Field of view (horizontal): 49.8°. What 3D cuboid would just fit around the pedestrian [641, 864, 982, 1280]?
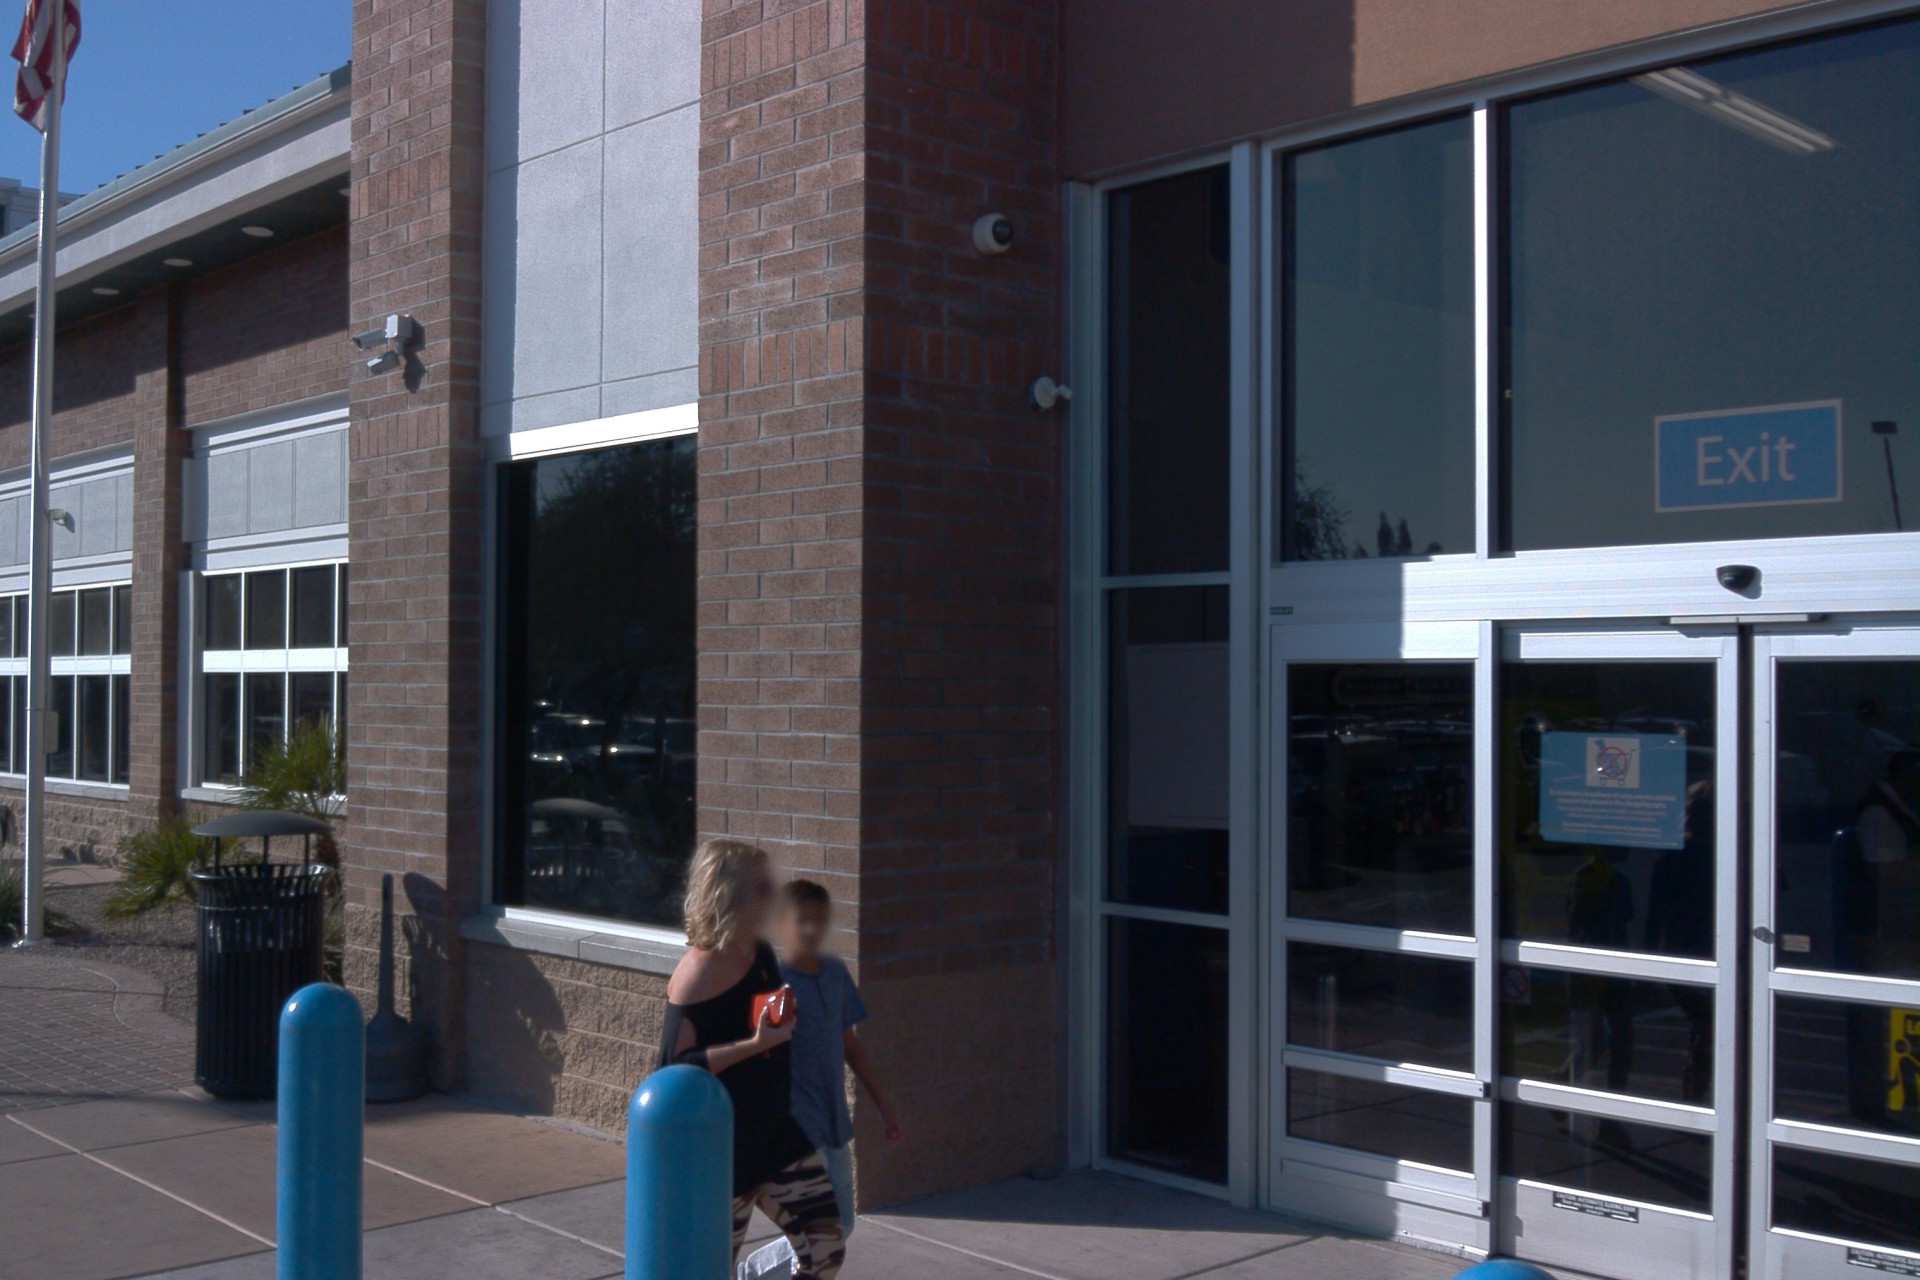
[{"bbox_3d":[-0.418,1.444,6.015,0.709,1.490,0.735,0,0,27],"label":"pedestrian"}]

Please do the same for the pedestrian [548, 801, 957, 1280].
[{"bbox_3d":[-0.529,1.329,5.399,0.782,1.750,0.735,0,0,30],"label":"pedestrian"}]
